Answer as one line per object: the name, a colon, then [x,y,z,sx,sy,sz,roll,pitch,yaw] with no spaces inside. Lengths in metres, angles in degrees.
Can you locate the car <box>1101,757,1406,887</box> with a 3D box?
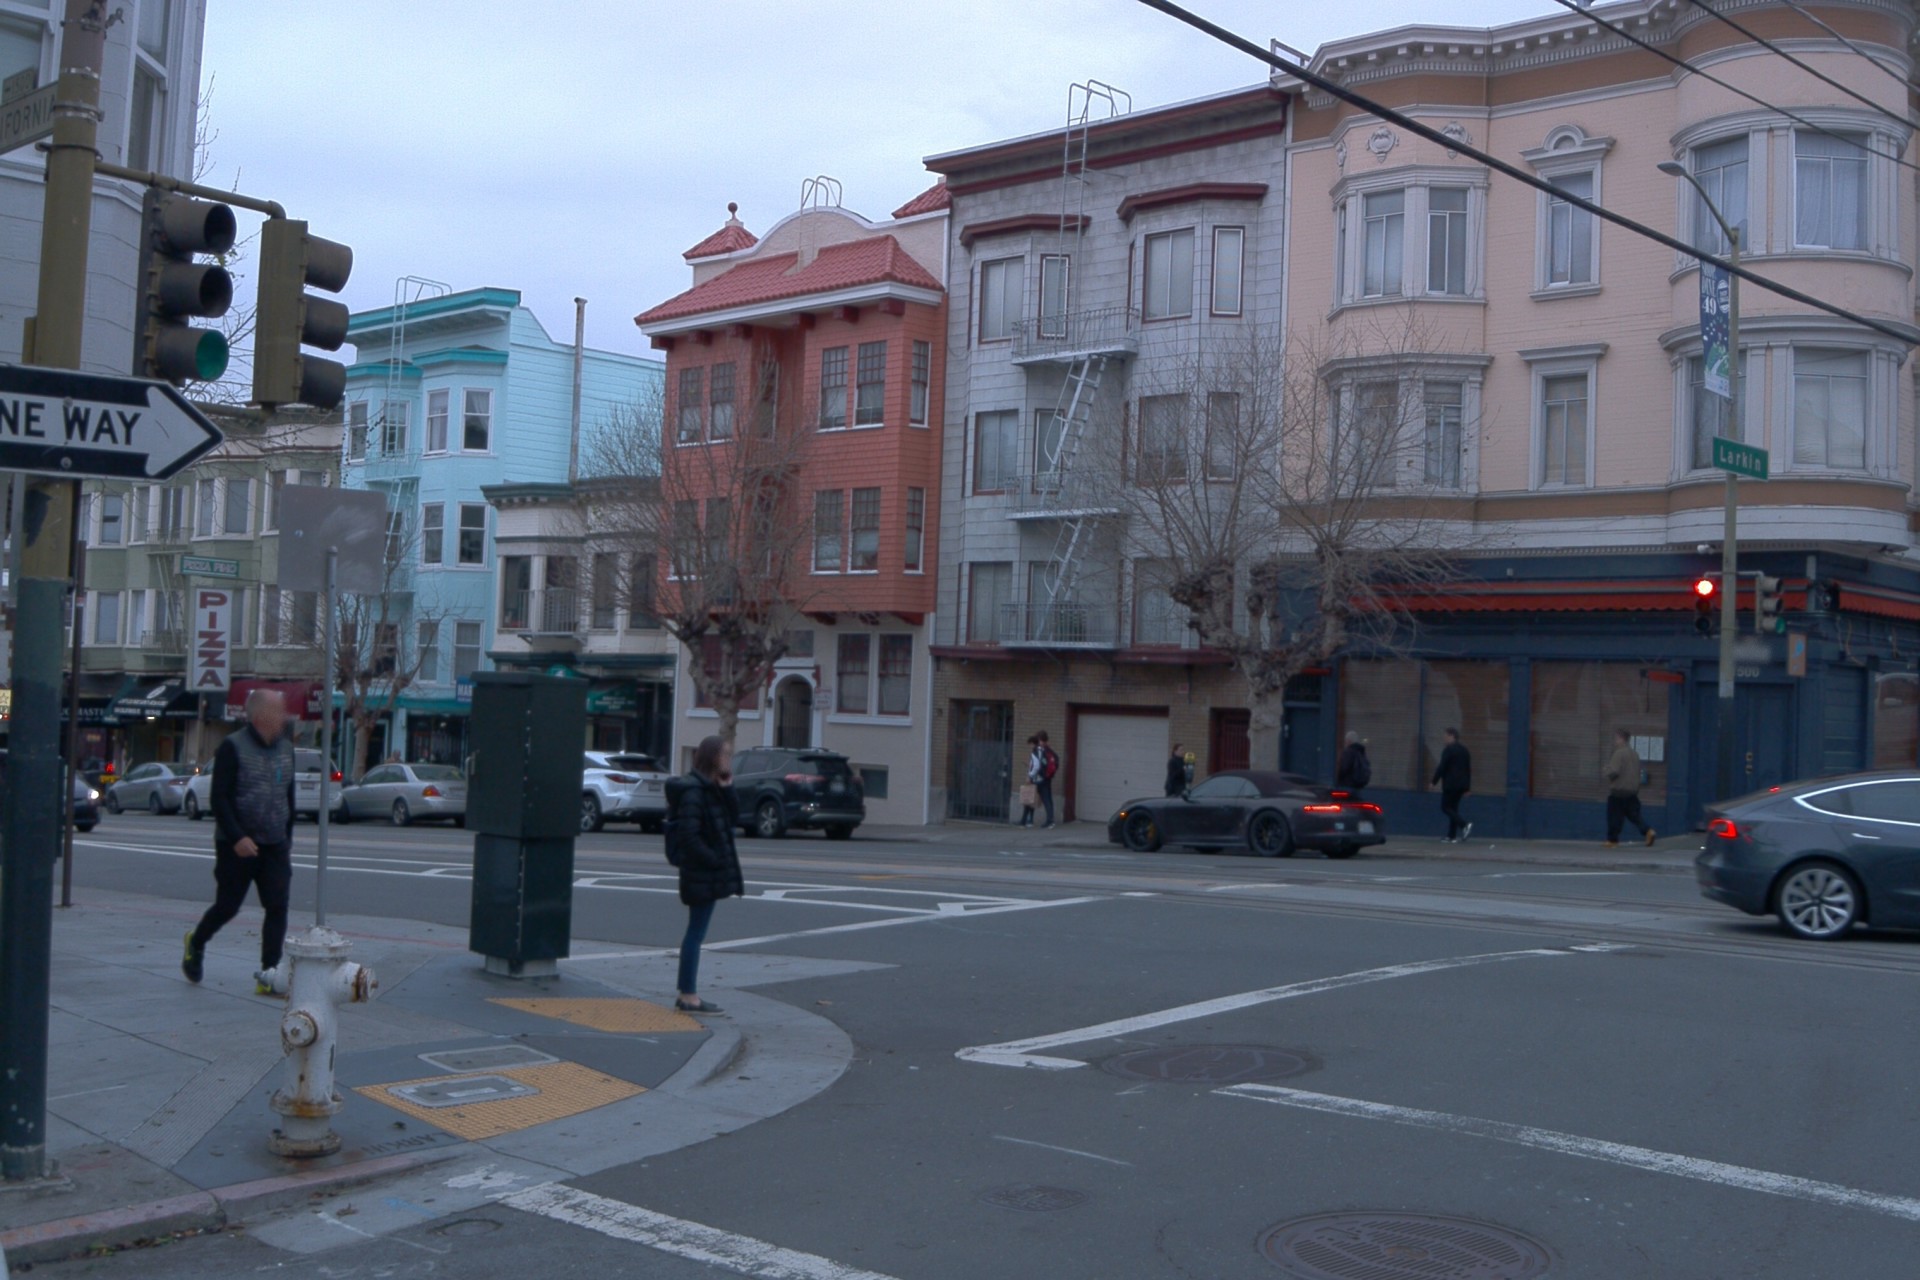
car: [4.281,2.625,30.588,1.947,1.460,4.186,-1,1,-43]

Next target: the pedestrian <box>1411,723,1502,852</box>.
pedestrian: [7.855,2.311,32.669,1.080,1.913,0.903,1,1,43]

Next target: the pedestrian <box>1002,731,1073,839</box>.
pedestrian: [1.451,2.700,38.689,1.021,1.900,0.833,1,1,42]

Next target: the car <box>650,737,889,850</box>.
car: [-3.623,2.828,38.770,4.423,1.700,2.100,1,1,44]

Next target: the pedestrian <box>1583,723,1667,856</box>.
pedestrian: [10.020,2.237,31.093,0.946,1.900,0.789,1,1,45]

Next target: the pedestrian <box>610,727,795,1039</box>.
pedestrian: [-1.515,1.392,12.138,0.846,1.692,0.707,-1,1,-35]

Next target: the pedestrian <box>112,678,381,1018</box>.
pedestrian: [-3.956,1.093,11.441,1.244,1.716,0.882,1,1,40]
